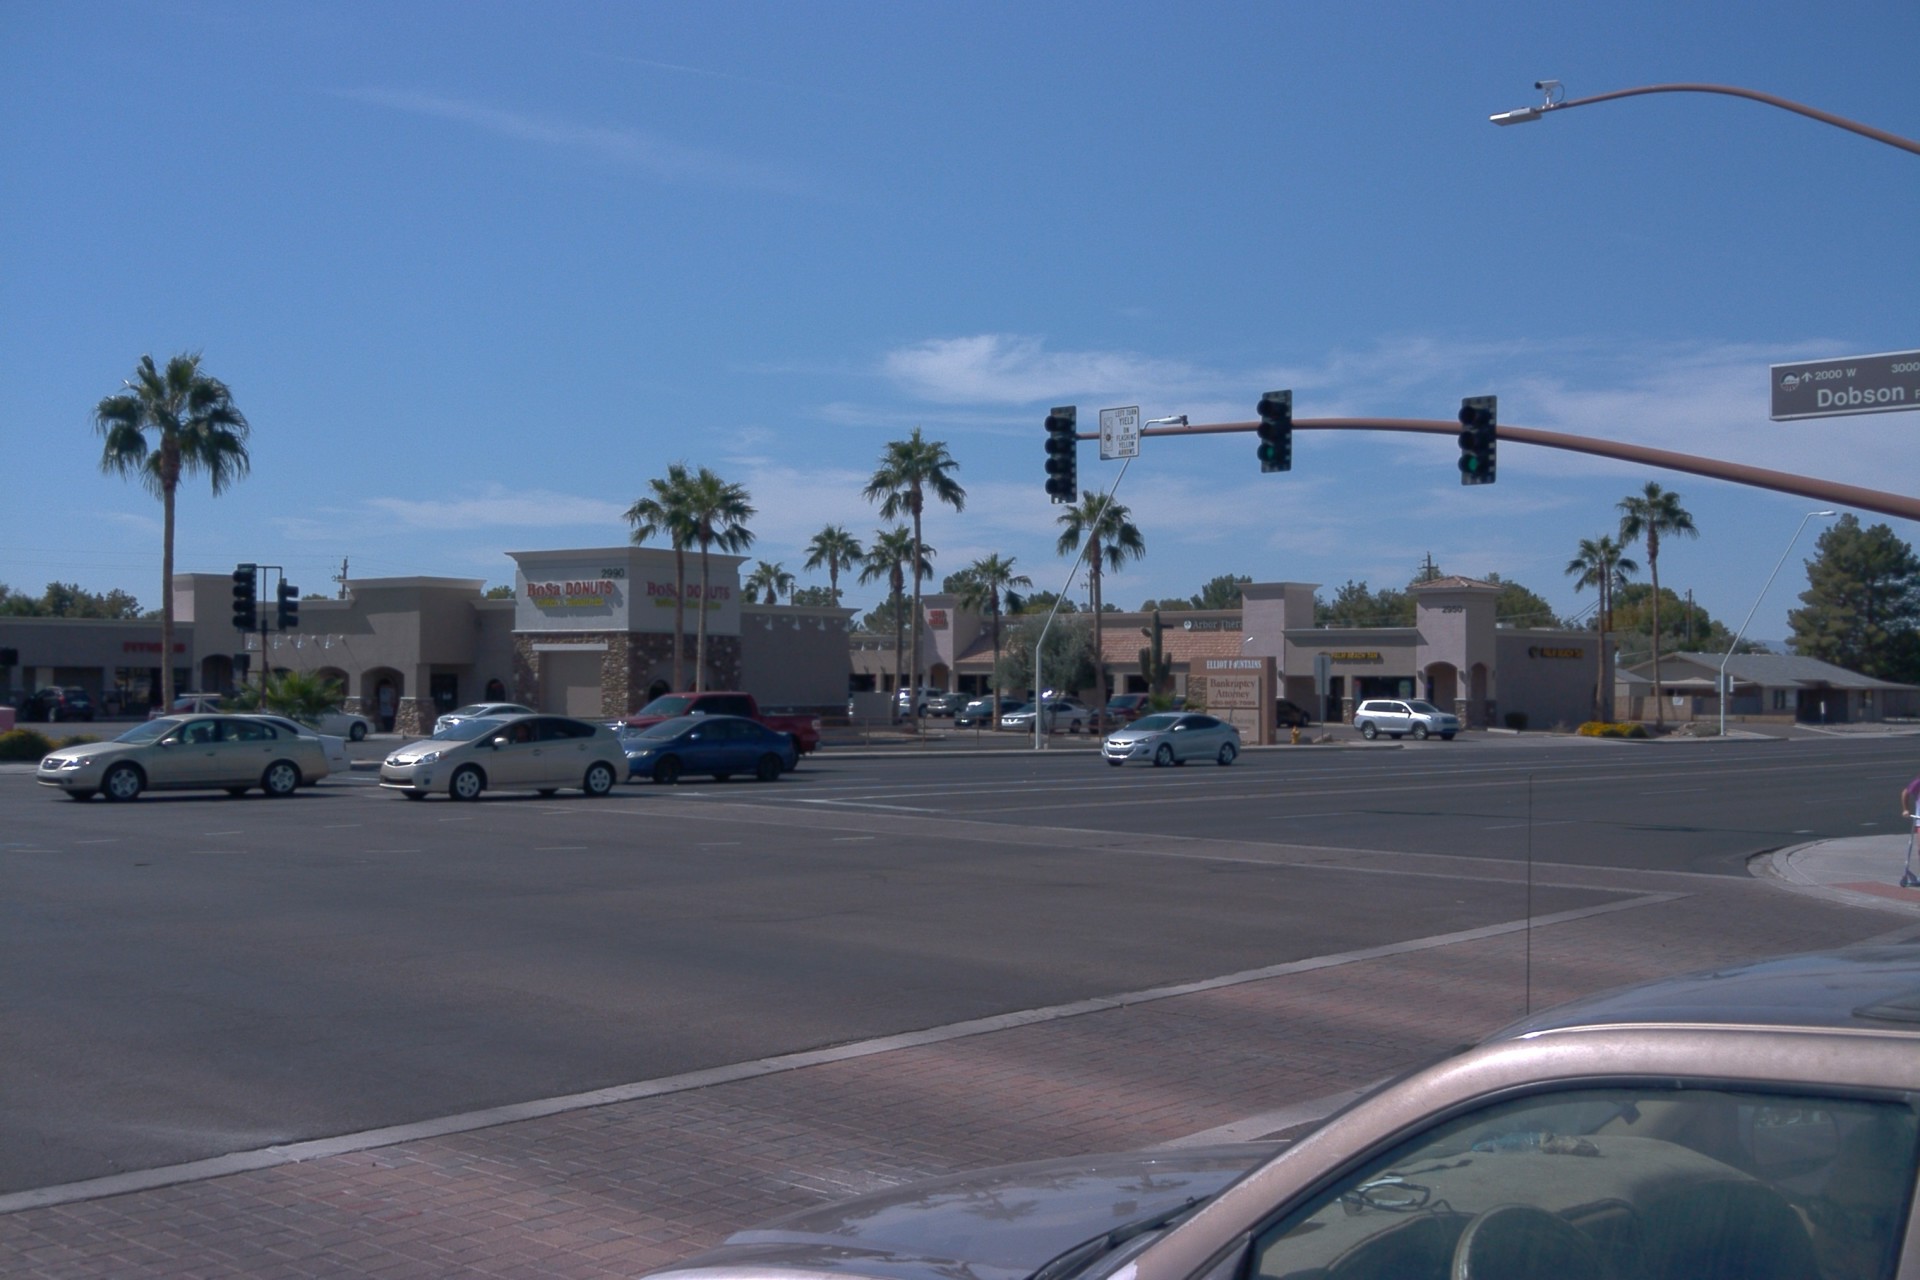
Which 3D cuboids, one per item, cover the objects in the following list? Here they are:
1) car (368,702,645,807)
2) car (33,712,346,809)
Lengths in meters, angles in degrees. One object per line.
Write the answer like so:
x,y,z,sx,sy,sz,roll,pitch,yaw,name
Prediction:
-7.922,1.949,36.435,1.964,1.670,4.396,-1,-1,44,car
-13.241,2.027,35.810,1.996,1.490,4.664,-1,-1,44,car
